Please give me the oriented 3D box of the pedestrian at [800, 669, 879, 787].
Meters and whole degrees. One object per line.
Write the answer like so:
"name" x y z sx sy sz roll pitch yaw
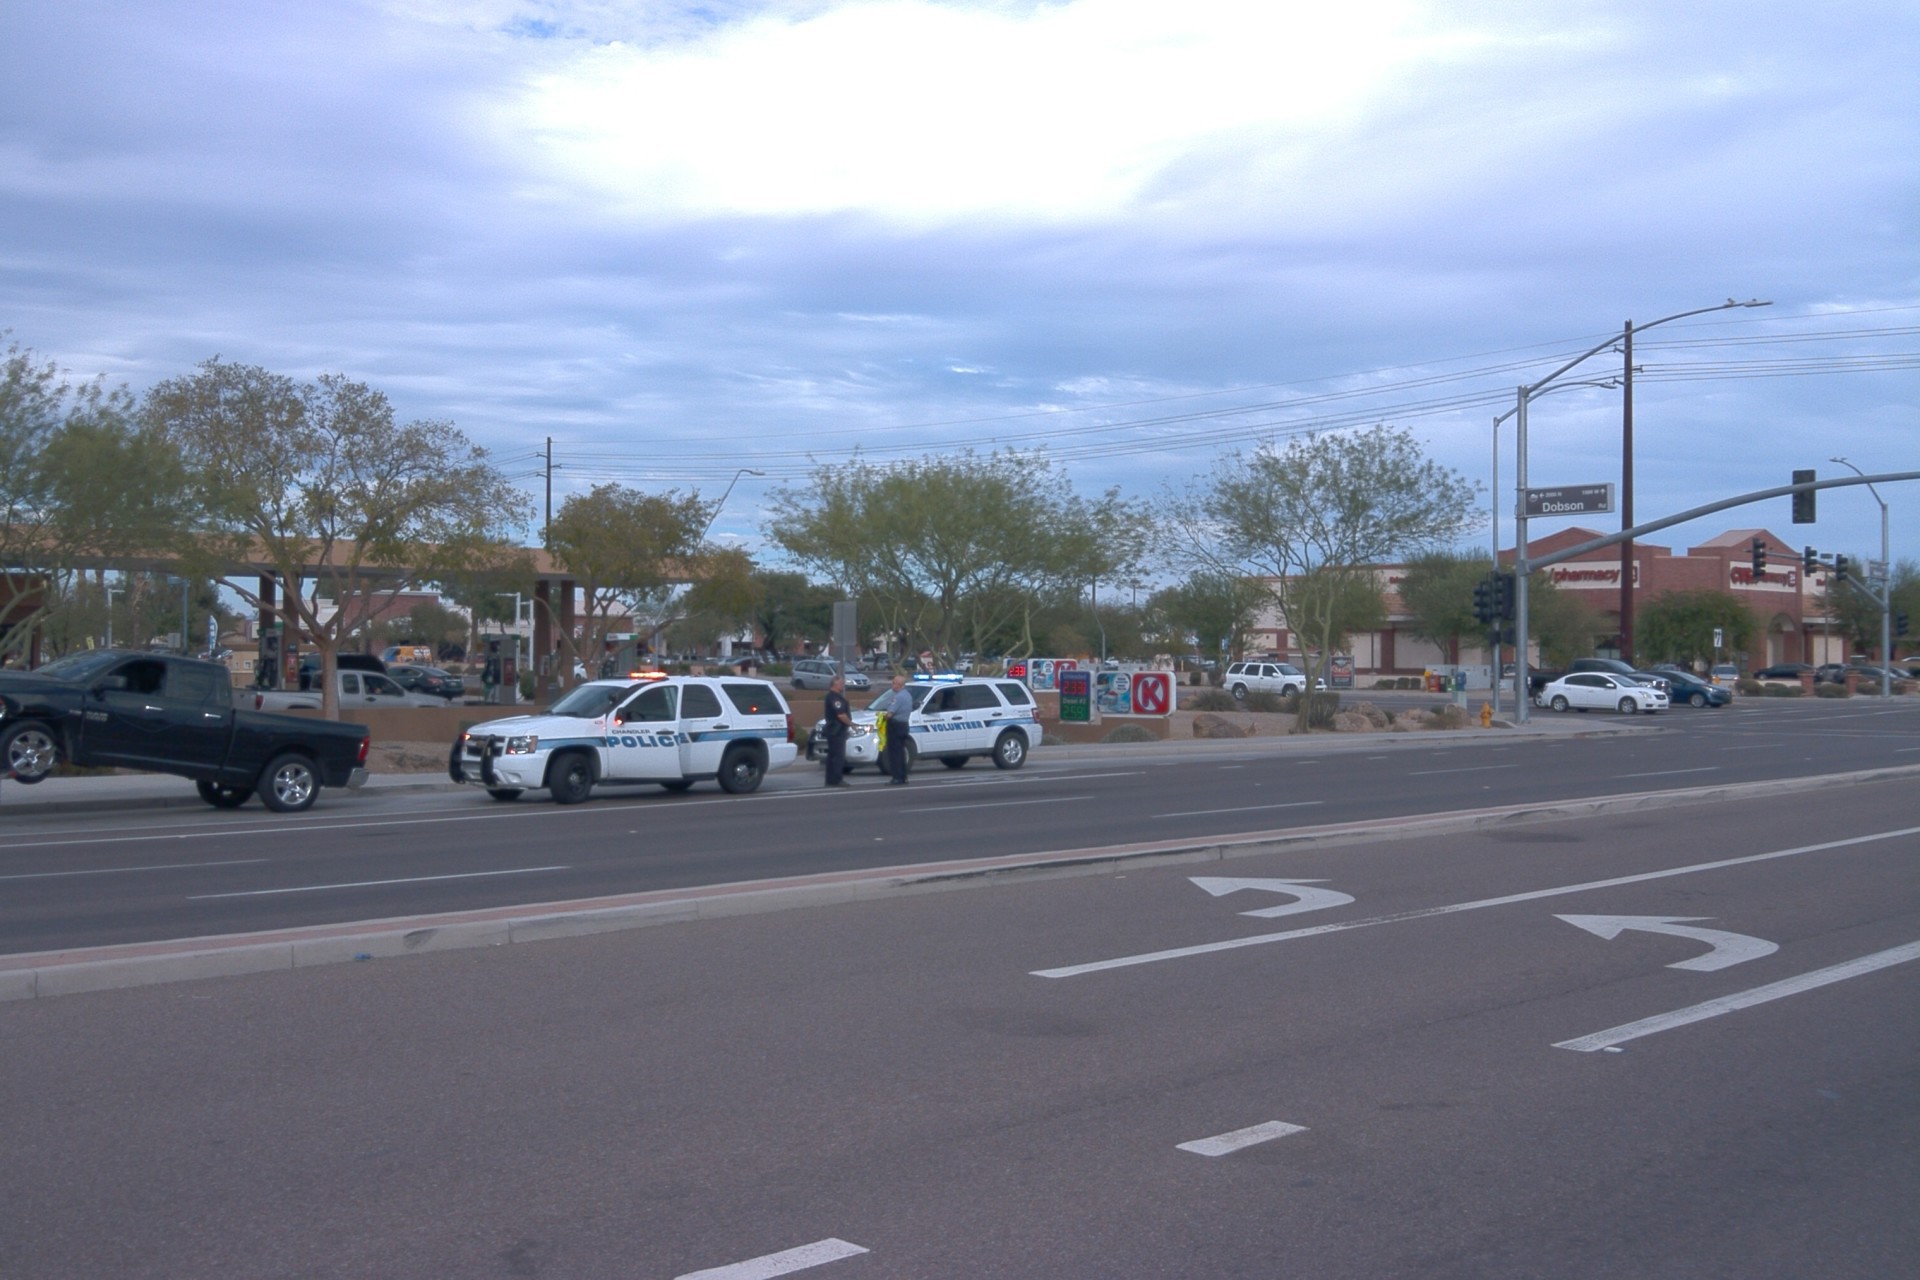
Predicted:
"pedestrian" -1.937 1.397 33.364 0.906 1.830 0.964 1 0 -30

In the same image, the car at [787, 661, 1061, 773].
"car" -0.596 1.346 37.728 4.770 1.860 2.000 1 0 -41

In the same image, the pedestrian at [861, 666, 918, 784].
"pedestrian" -1.138 1.365 33.739 0.763 1.880 0.741 1 0 8

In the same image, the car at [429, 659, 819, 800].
"car" -4.972 1.271 31.337 5.441 1.900 2.232 1 0 -42
